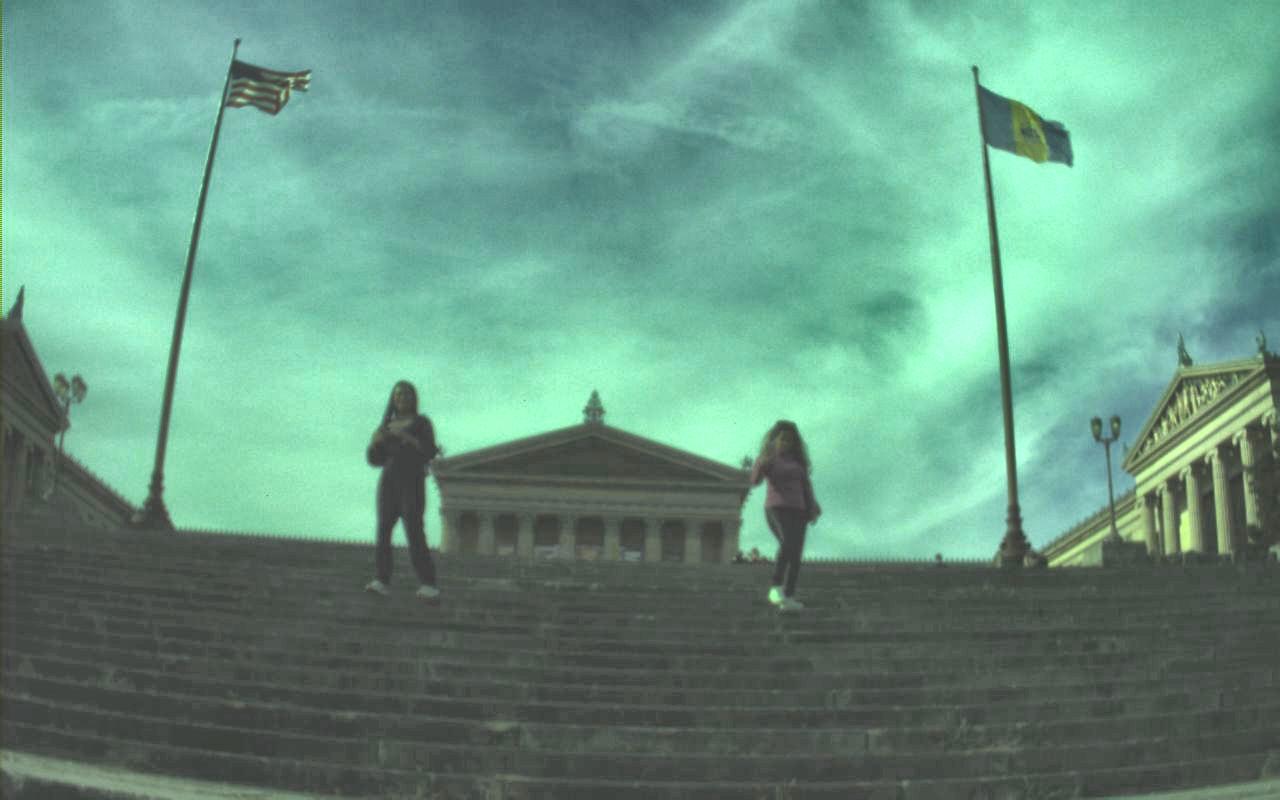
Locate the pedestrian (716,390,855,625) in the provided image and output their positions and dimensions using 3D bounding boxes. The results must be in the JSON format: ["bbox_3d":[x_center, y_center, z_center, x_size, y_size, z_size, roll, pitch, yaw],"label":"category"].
[{"bbox_3d":[1.101,0.785,9.600,0.763,1.711,0.801,0,0,-21],"label":"pedestrian"}]

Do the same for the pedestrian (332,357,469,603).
[{"bbox_3d":[-1.814,0.574,9.409,0.798,1.780,0.806,0,0,11],"label":"pedestrian"}]
